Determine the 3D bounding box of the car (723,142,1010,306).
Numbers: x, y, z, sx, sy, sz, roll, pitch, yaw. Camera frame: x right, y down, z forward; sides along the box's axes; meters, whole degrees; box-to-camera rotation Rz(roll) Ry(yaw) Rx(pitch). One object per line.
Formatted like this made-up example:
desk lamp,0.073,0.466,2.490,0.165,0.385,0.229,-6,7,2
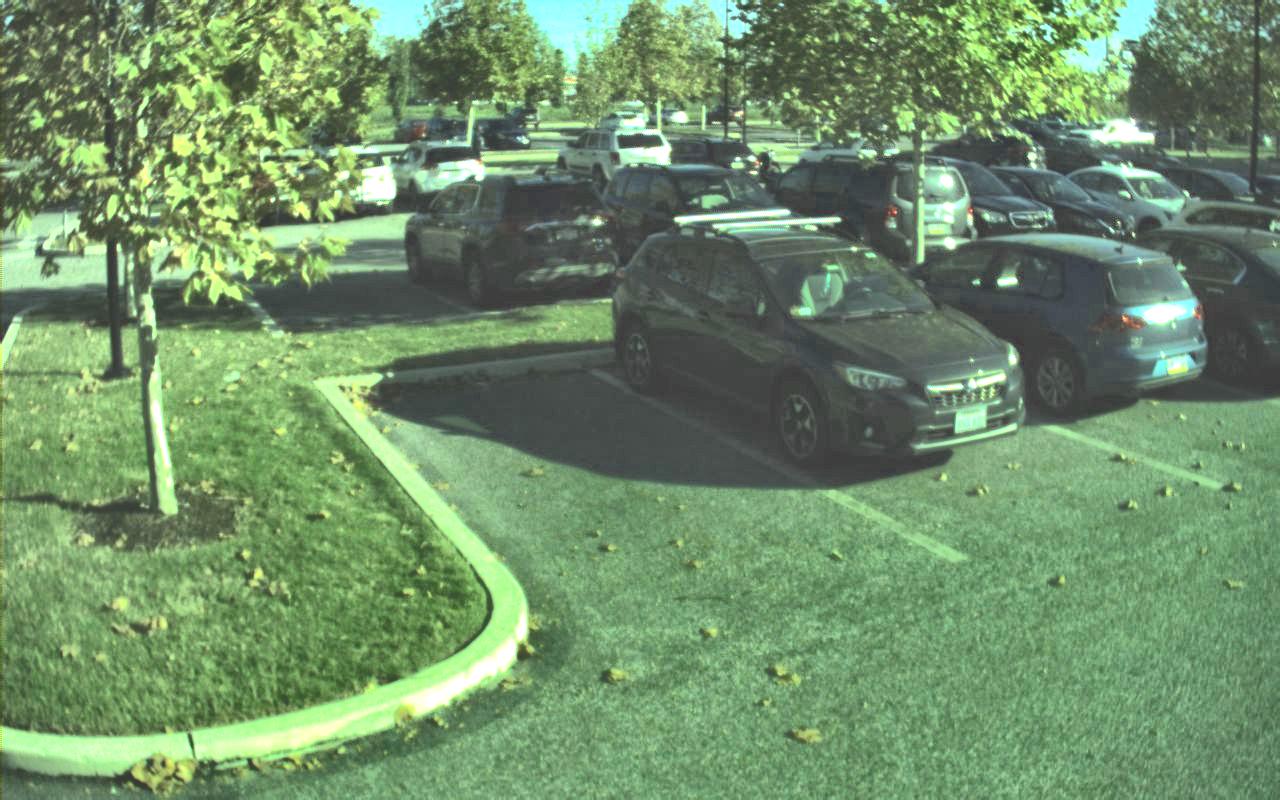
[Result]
car,3.394,-2.877,19.329,2.032,1.795,4.655,-10,19,-28

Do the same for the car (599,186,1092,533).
car,1.493,-0.628,10.593,1.962,1.729,4.509,-9,18,-25

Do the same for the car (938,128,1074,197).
car,11.889,-7.779,39.445,2.004,1.723,4.602,-9,18,-24

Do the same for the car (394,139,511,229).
car,-4.933,-5.647,32.009,1.991,1.722,4.526,-7,18,-21

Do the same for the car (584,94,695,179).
car,-0.115,-7.298,34.184,2.079,1.882,4.809,-4,17,-11

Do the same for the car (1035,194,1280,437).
car,6.419,-1.090,12.564,1.949,1.572,4.552,-7,18,-20

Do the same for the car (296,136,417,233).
car,-7.231,-5.476,30.734,2.050,1.829,4.679,-9,18,-24

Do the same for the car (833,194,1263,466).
car,3.850,-0.870,11.785,1.884,1.602,4.198,-9,19,-27

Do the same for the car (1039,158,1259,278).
car,10.238,-3.735,23.699,1.994,1.661,4.611,-8,18,-21

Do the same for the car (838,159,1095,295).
car,5.540,-3.086,21.108,1.948,1.597,4.426,-10,19,-29

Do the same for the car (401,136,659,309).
car,-1.744,-2.699,17.878,2.017,1.725,4.663,-9,19,-26
